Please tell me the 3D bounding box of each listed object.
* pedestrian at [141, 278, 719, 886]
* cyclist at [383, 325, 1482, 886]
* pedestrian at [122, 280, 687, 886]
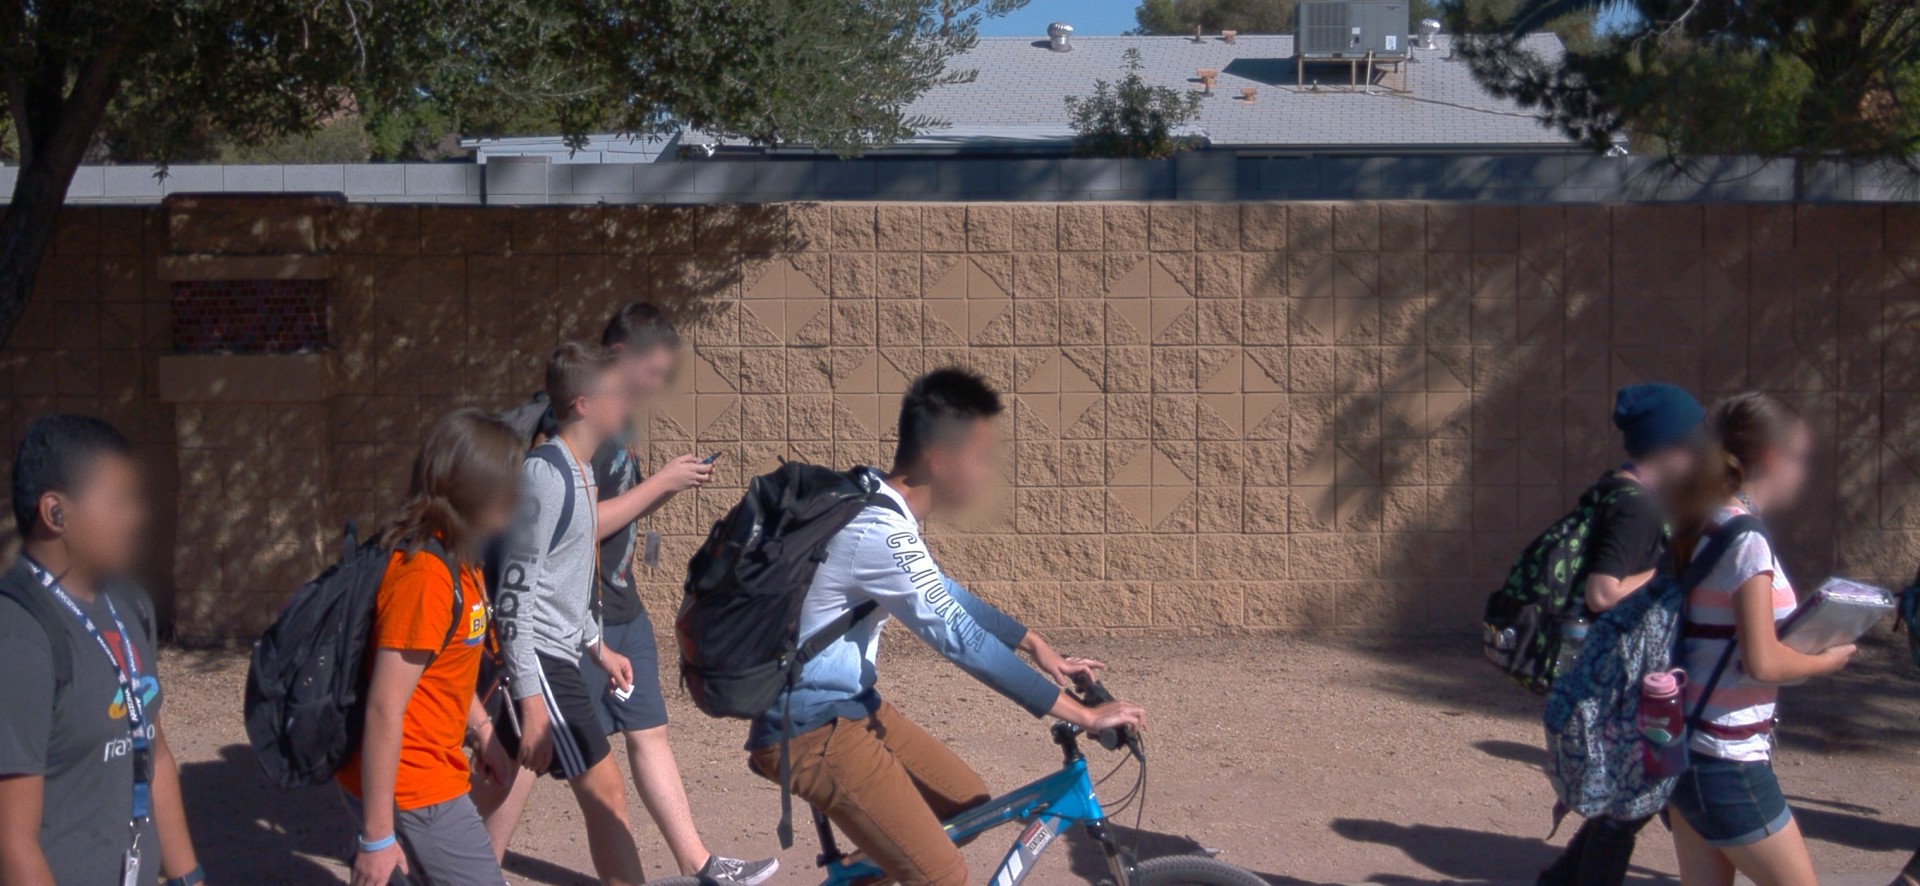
[{"bbox_3d":[-1.375,0.469,5.713,1.345,1.820,1.016,0,1,-3],"label":"pedestrian"},{"bbox_3d":[-0.050,0.667,4.107,1.887,1.750,1.015,0,1,-1],"label":"cyclist"},{"bbox_3d":[-1.318,0.532,5.232,1.162,1.860,1.043,0,1,-3],"label":"pedestrian"}]
